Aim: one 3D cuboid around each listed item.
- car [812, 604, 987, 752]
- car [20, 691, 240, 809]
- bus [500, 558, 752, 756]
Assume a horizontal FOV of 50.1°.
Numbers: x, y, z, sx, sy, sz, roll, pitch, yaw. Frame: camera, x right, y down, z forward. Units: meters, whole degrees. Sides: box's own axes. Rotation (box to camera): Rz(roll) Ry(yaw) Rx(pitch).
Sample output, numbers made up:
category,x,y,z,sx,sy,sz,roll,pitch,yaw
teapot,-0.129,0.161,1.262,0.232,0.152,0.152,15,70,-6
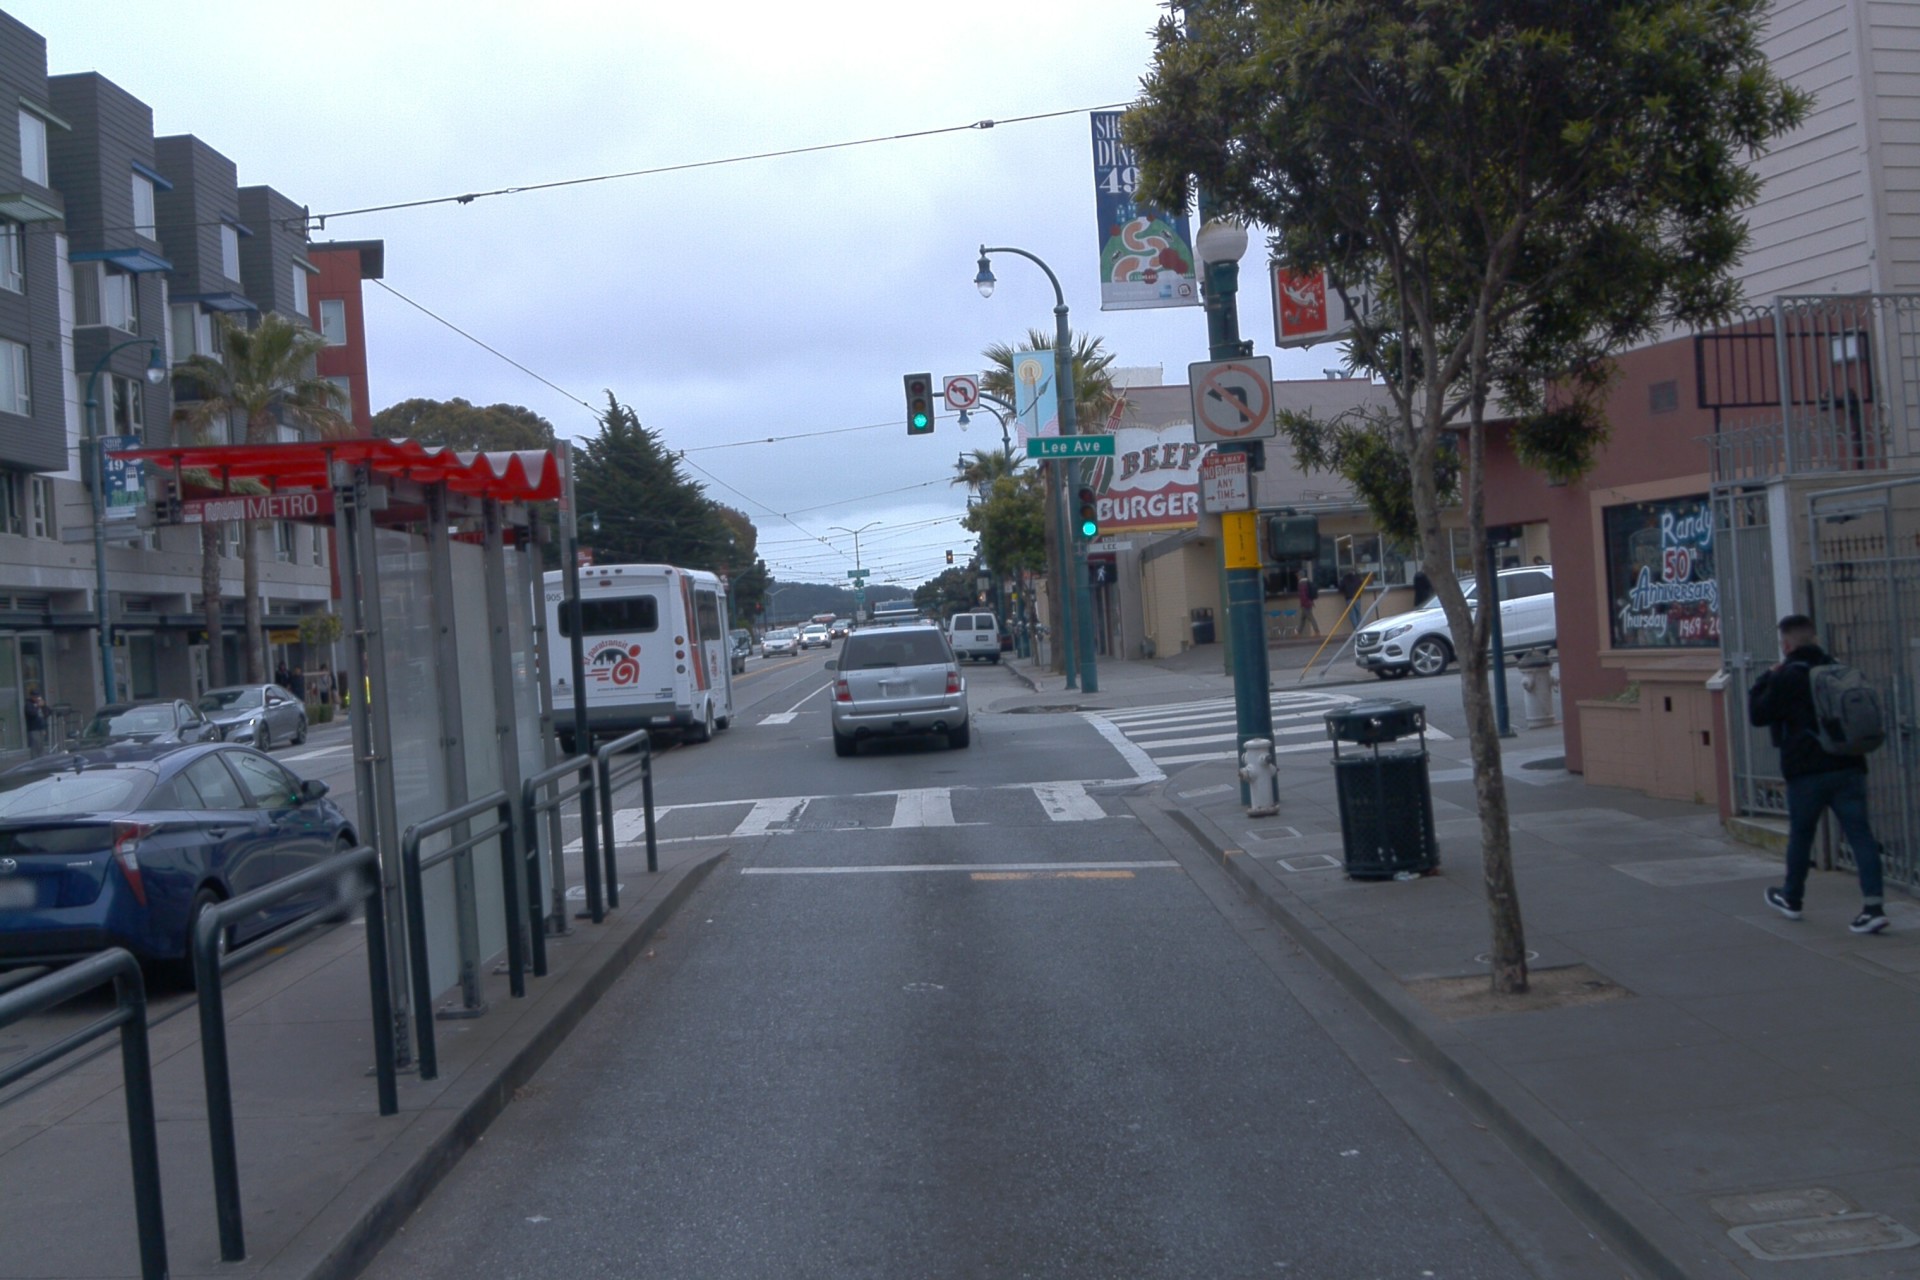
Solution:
category,x,y,z,sx,sy,sz,roll,pitch,yaw
car,-0.843,0.461,29.208,2.303,1.940,4.182,0,1,-1
car,-12.697,1.627,31.791,2.141,1.460,4.863,0,1,-9
bus,-5.509,0.210,35.210,3.022,3.040,6.906,0,1,1
